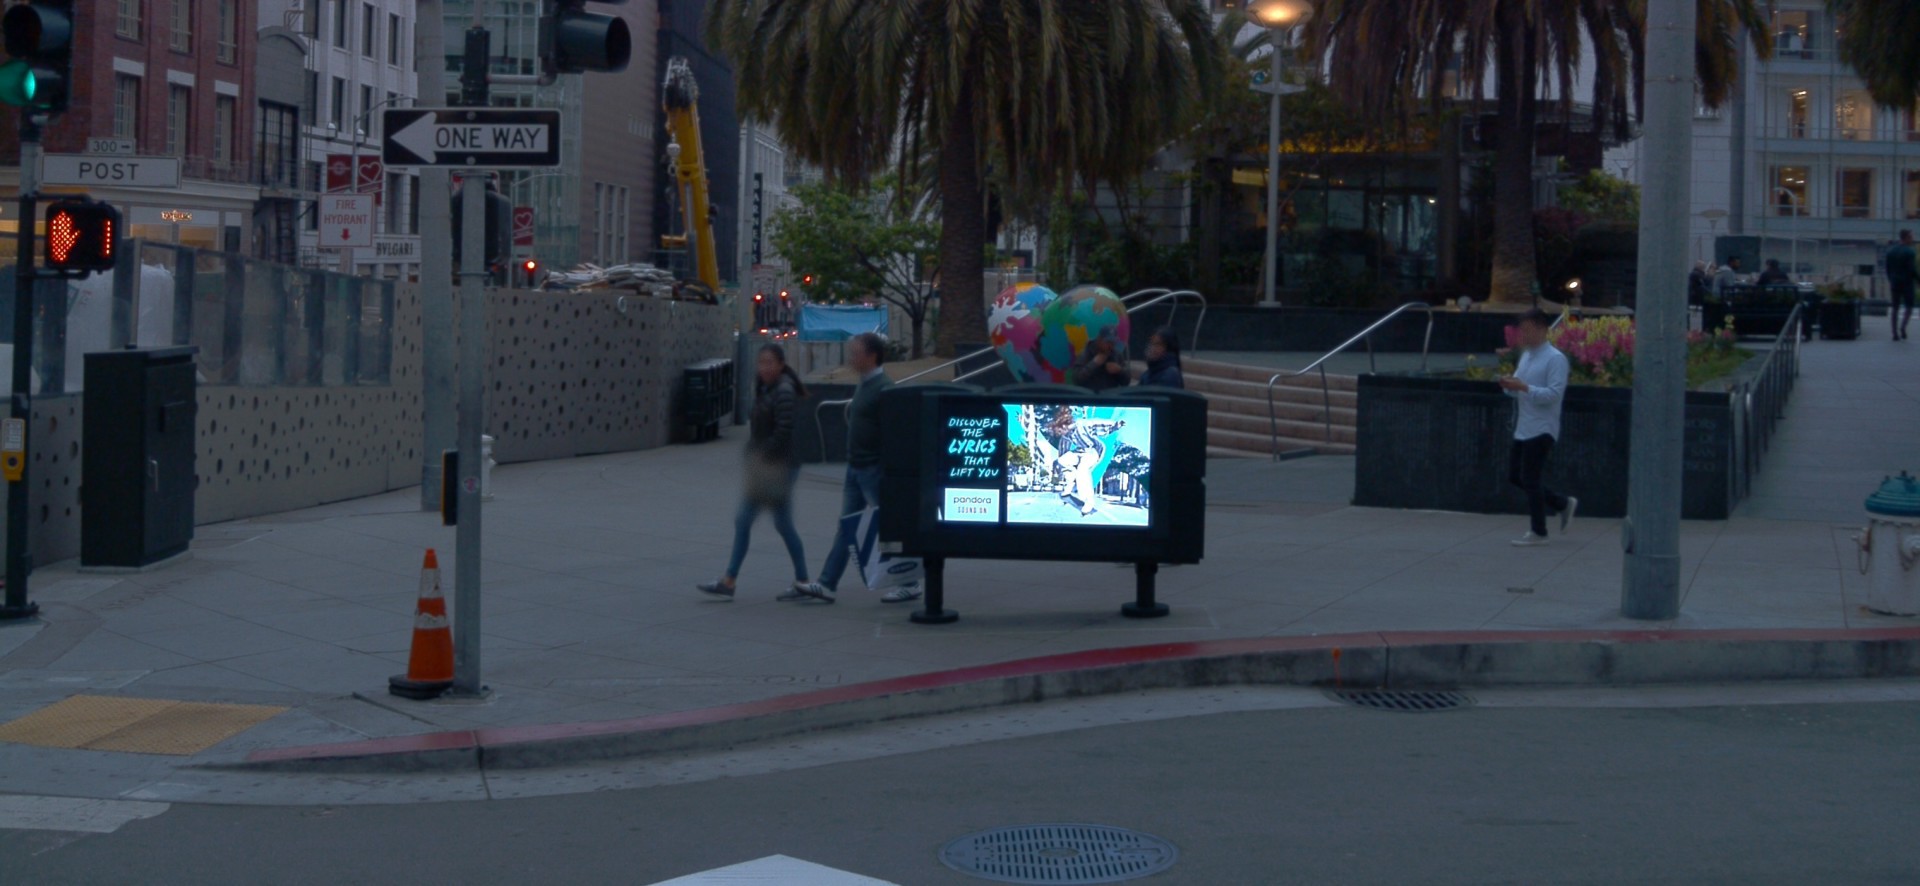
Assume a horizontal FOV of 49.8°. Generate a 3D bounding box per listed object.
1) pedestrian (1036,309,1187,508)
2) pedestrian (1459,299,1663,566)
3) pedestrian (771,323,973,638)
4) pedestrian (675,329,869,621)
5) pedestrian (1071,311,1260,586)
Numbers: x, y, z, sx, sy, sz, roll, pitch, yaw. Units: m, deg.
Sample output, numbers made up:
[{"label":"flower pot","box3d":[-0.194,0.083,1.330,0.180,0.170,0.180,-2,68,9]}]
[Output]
[{"label":"pedestrian","box3d":[1.416,-0.354,19.393,1.001,1.759,1.001,-1,2,-34]},{"label":"pedestrian","box3d":[4.204,-0.111,14.502,1.000,1.759,1.002,-1,2,-15]},{"label":"pedestrian","box3d":[-0.564,0.184,12.958,1.000,1.829,1.002,-1,2,-20]},{"label":"pedestrian","box3d":[-1.212,0.161,13.188,1.000,1.719,1.002,-1,2,-20]},{"label":"pedestrian","box3d":[1.381,-0.004,14.044,1.000,1.749,1.002,-1,2,-14]}]
